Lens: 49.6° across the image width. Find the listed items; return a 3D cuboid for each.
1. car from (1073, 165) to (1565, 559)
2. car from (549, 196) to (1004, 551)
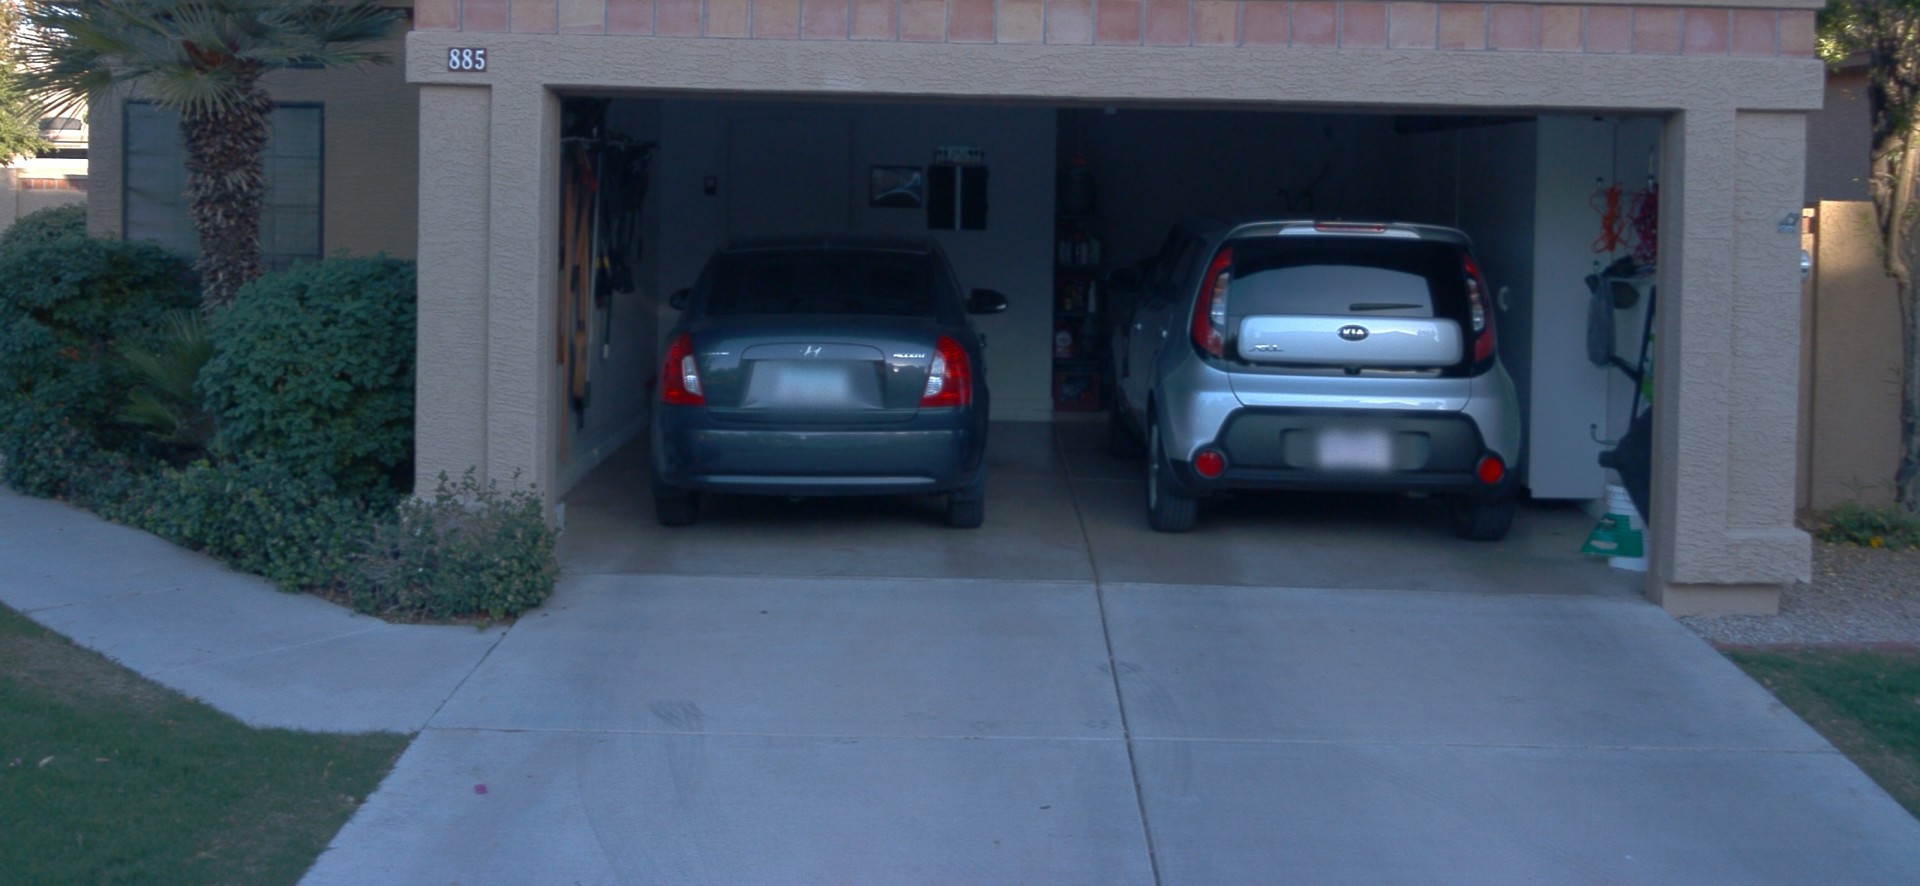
[{"bbox_3d":[1.780,-0.574,11.703,2.074,1.794,4.124,1,5,0],"label":"car"},{"bbox_3d":[-0.810,-0.527,11.585,2.043,1.574,4.394,1,5,0],"label":"car"}]
